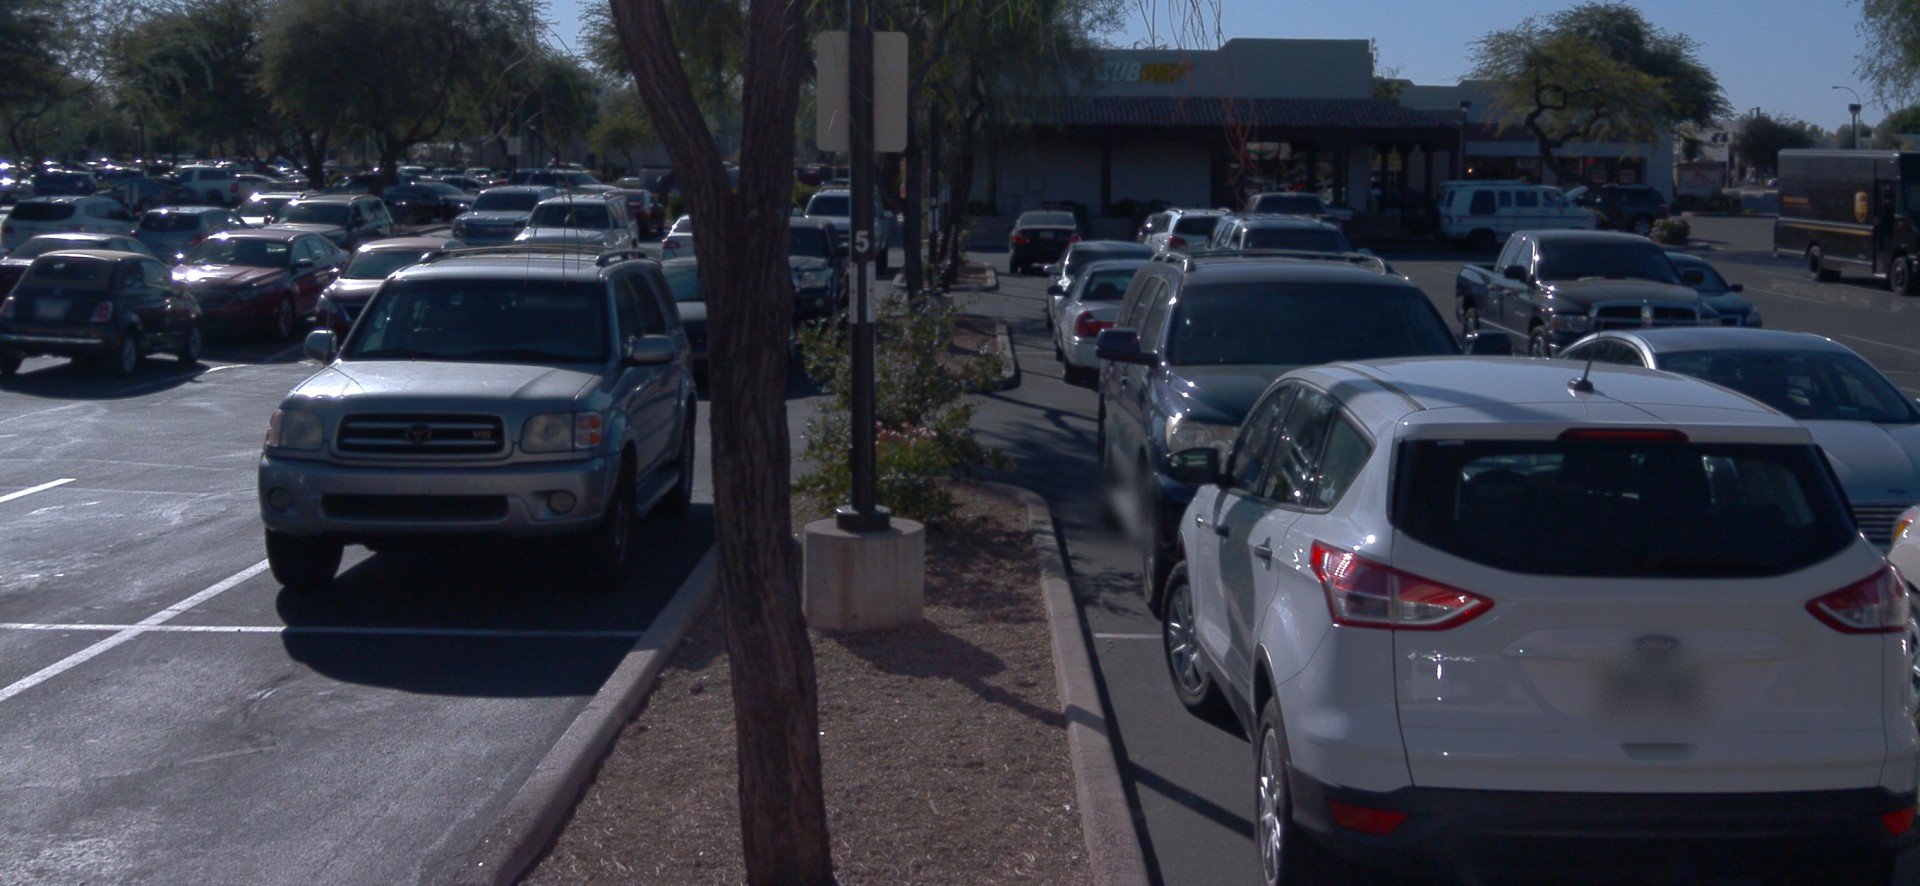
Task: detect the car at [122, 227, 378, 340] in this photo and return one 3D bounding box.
[{"bbox_3d":[-10.714,-2.511,31.737,2.086,1.562,4.913,1,6,2],"label":"car"}]

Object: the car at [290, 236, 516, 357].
[{"bbox_3d":[-8.108,-2.227,30.650,2.010,1.593,4.474,1,5,2],"label":"car"}]

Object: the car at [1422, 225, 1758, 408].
[{"bbox_3d":[7.730,-1.723,26.210,2.523,2.021,5.784,1,6,0],"label":"car"}]

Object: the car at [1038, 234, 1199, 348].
[{"bbox_3d":[2.314,-2.374,31.467,2.127,1.553,4.507,1,6,0],"label":"car"}]

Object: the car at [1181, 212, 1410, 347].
[{"bbox_3d":[5.035,-2.591,32.020,2.482,1.891,5.237,0,5,-3],"label":"car"}]

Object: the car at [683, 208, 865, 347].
[{"bbox_3d":[-2.720,-2.591,31.612,2.086,1.901,5.342,1,5,2],"label":"car"}]

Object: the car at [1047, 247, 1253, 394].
[{"bbox_3d":[2.245,-1.624,25.915,2.256,1.562,5.128,1,6,2],"label":"car"}]

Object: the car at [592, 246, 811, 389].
[{"bbox_3d":[-3.083,-1.629,25.660,2.083,1.543,4.565,1,6,0],"label":"car"}]

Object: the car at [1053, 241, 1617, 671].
[{"bbox_3d":[1.980,-0.178,12.866,2.497,2.061,5.138,1,5,-1],"label":"car"}]

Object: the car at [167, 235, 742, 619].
[{"bbox_3d":[-2.901,-0.342,13.382,2.382,1.941,5.207,1,5,0],"label":"car"}]
